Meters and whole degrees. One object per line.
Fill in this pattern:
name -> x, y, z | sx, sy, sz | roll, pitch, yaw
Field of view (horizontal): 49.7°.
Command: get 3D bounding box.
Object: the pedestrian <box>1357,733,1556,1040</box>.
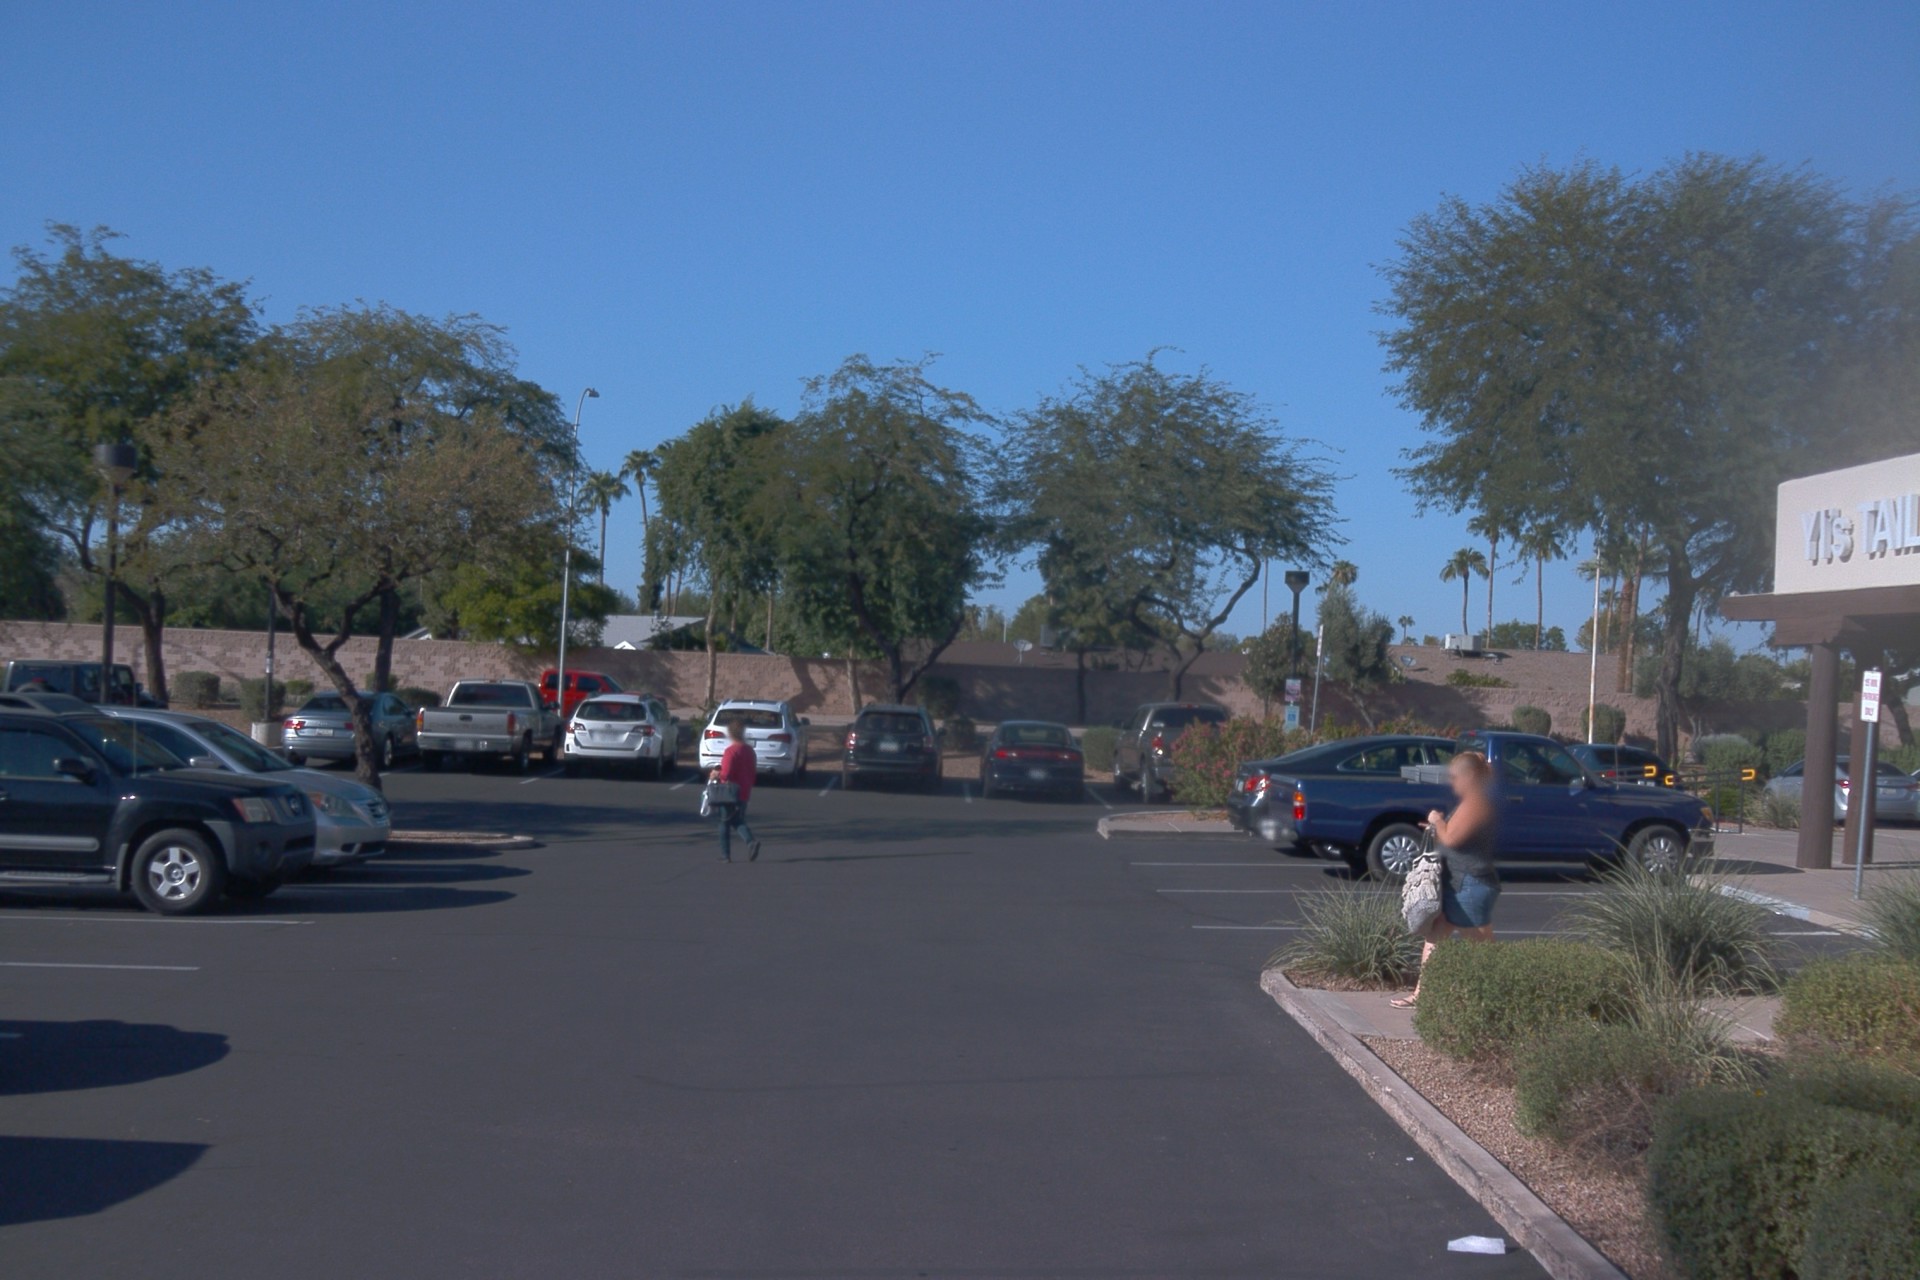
pedestrian -> 2.973, 1.451, 12.504 | 0.962, 1.750, 0.926 | 1, -1, 0

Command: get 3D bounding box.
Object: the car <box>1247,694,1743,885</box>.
car -> 5.568, 1.545, 22.008 | 4.685, 1.860, 2.091 | 1, -1, -2

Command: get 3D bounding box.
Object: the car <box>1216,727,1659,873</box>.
car -> 5.599, 1.879, 24.746 | 4.780, 1.570, 2.041 | 1, -1, -2

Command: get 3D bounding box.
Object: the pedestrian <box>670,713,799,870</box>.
pedestrian -> -2.532, 1.674, 23.294 | 1.039, 1.680, 0.982 | 0, -1, 43
